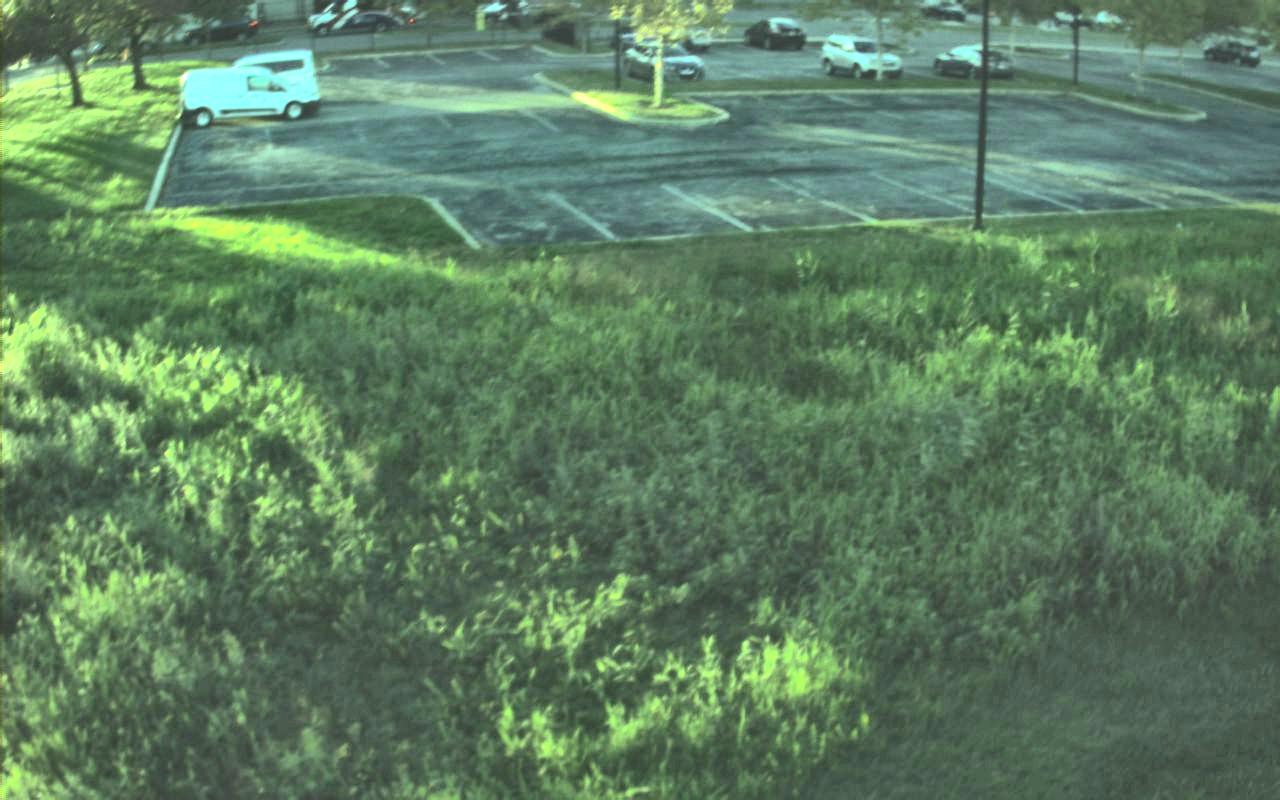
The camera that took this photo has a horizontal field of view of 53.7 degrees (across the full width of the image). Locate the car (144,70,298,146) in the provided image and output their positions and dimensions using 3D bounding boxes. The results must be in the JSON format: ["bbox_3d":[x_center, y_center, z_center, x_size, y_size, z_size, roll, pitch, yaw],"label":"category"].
[{"bbox_3d":[-13.722,-9.493,38.423,5.076,1.968,2.125,-7,17,-19],"label":"car"}]

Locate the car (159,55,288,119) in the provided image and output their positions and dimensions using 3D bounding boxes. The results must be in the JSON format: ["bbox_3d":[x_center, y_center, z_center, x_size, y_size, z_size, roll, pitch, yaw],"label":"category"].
[{"bbox_3d":[-15.214,-11.289,42.624,4.734,1.866,2.086,-8,17,-22],"label":"car"}]
